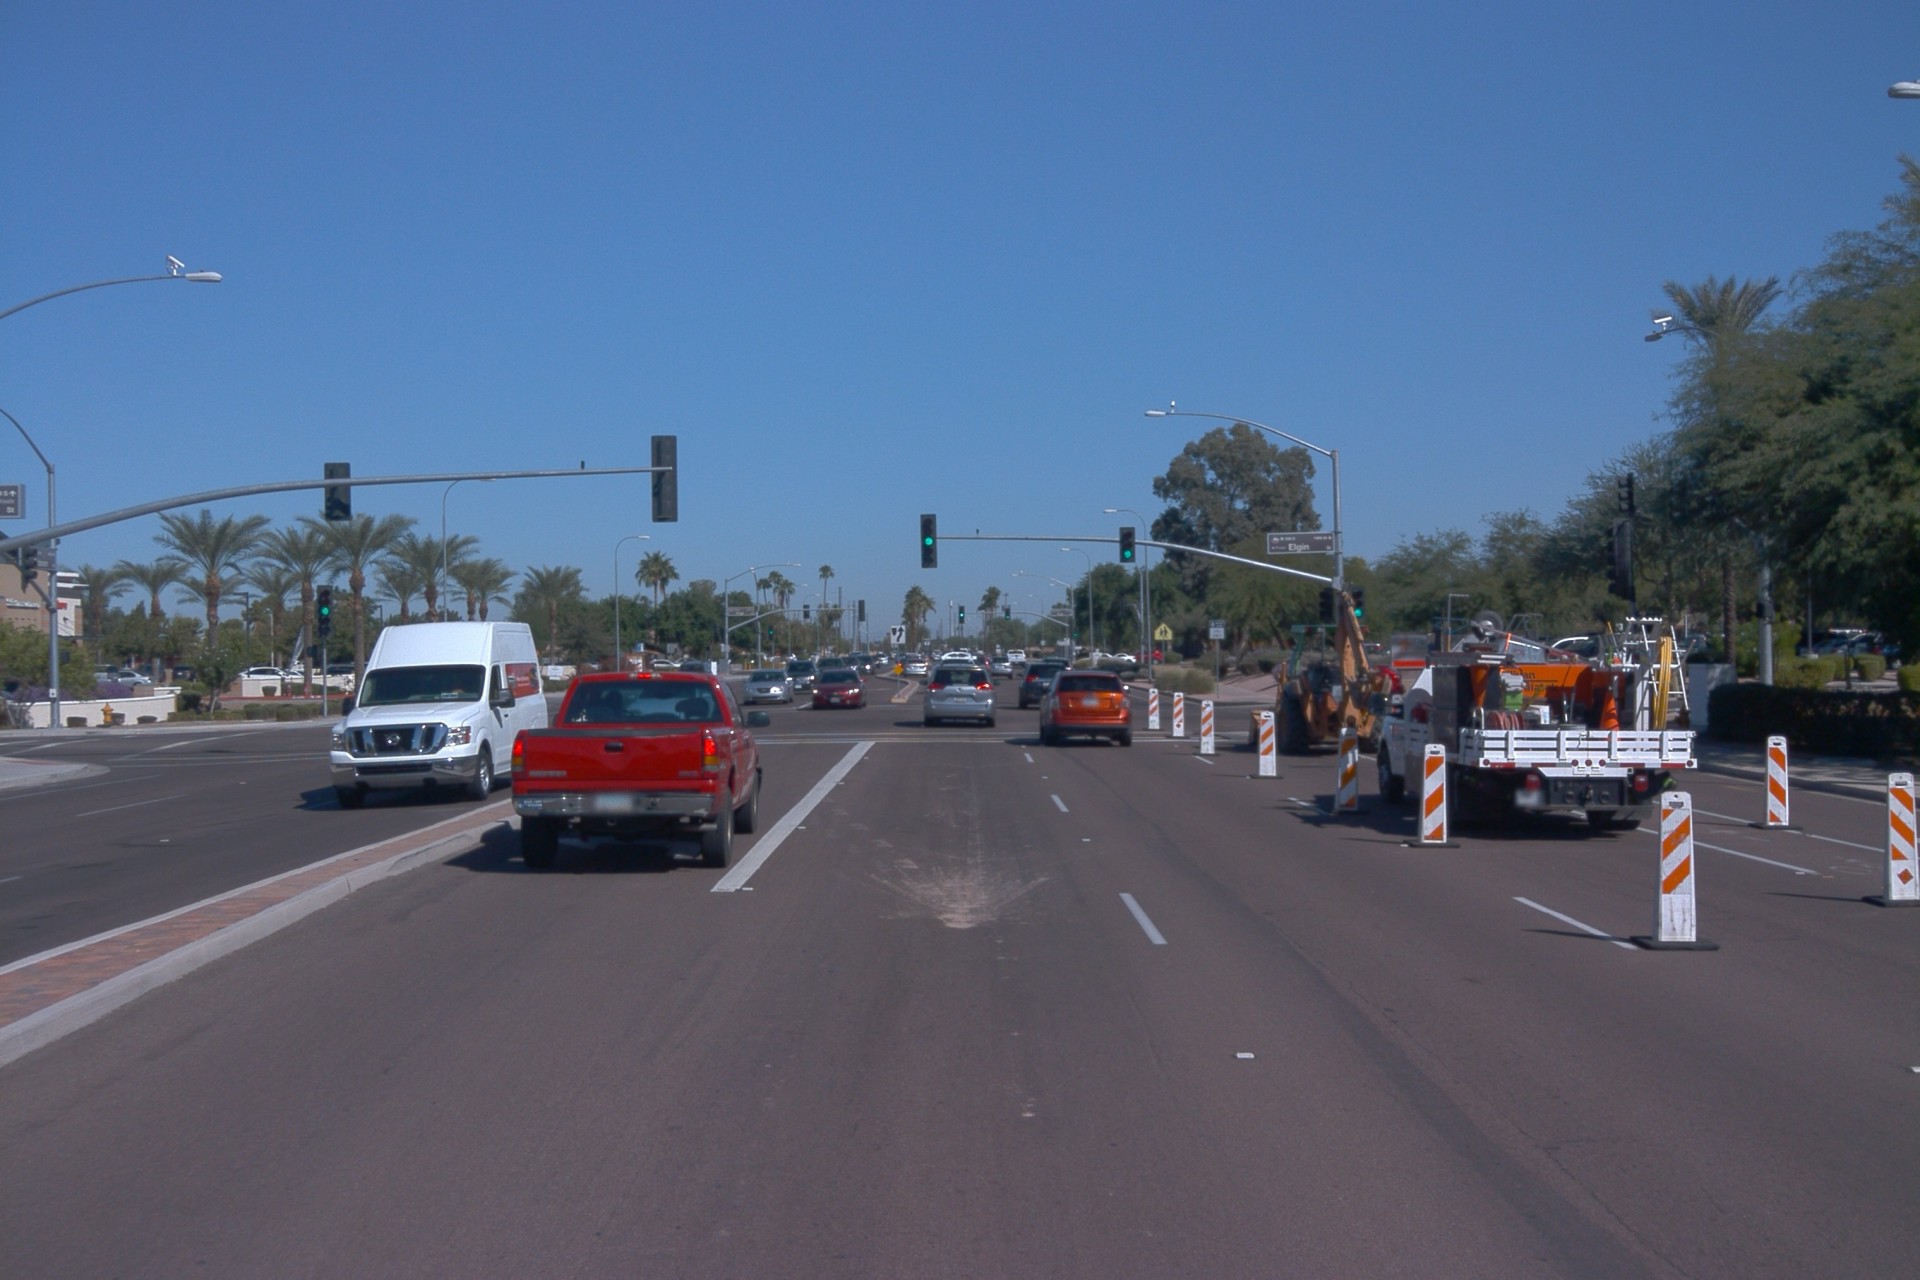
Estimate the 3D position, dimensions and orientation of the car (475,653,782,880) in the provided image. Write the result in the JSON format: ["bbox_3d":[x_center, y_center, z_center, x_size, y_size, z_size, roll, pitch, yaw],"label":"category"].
[{"bbox_3d":[-3.223,1.150,21.477,2.340,2.010,5.847,0,0,-1],"label":"car"}]

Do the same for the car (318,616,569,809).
[{"bbox_3d":[-7.699,1.013,31.567,2.374,2.660,5.880,0,0,0],"label":"car"}]

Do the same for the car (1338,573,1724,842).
[{"bbox_3d":[6.938,0.745,26.485,2.902,2.920,7.858,0,0,1],"label":"car"}]
